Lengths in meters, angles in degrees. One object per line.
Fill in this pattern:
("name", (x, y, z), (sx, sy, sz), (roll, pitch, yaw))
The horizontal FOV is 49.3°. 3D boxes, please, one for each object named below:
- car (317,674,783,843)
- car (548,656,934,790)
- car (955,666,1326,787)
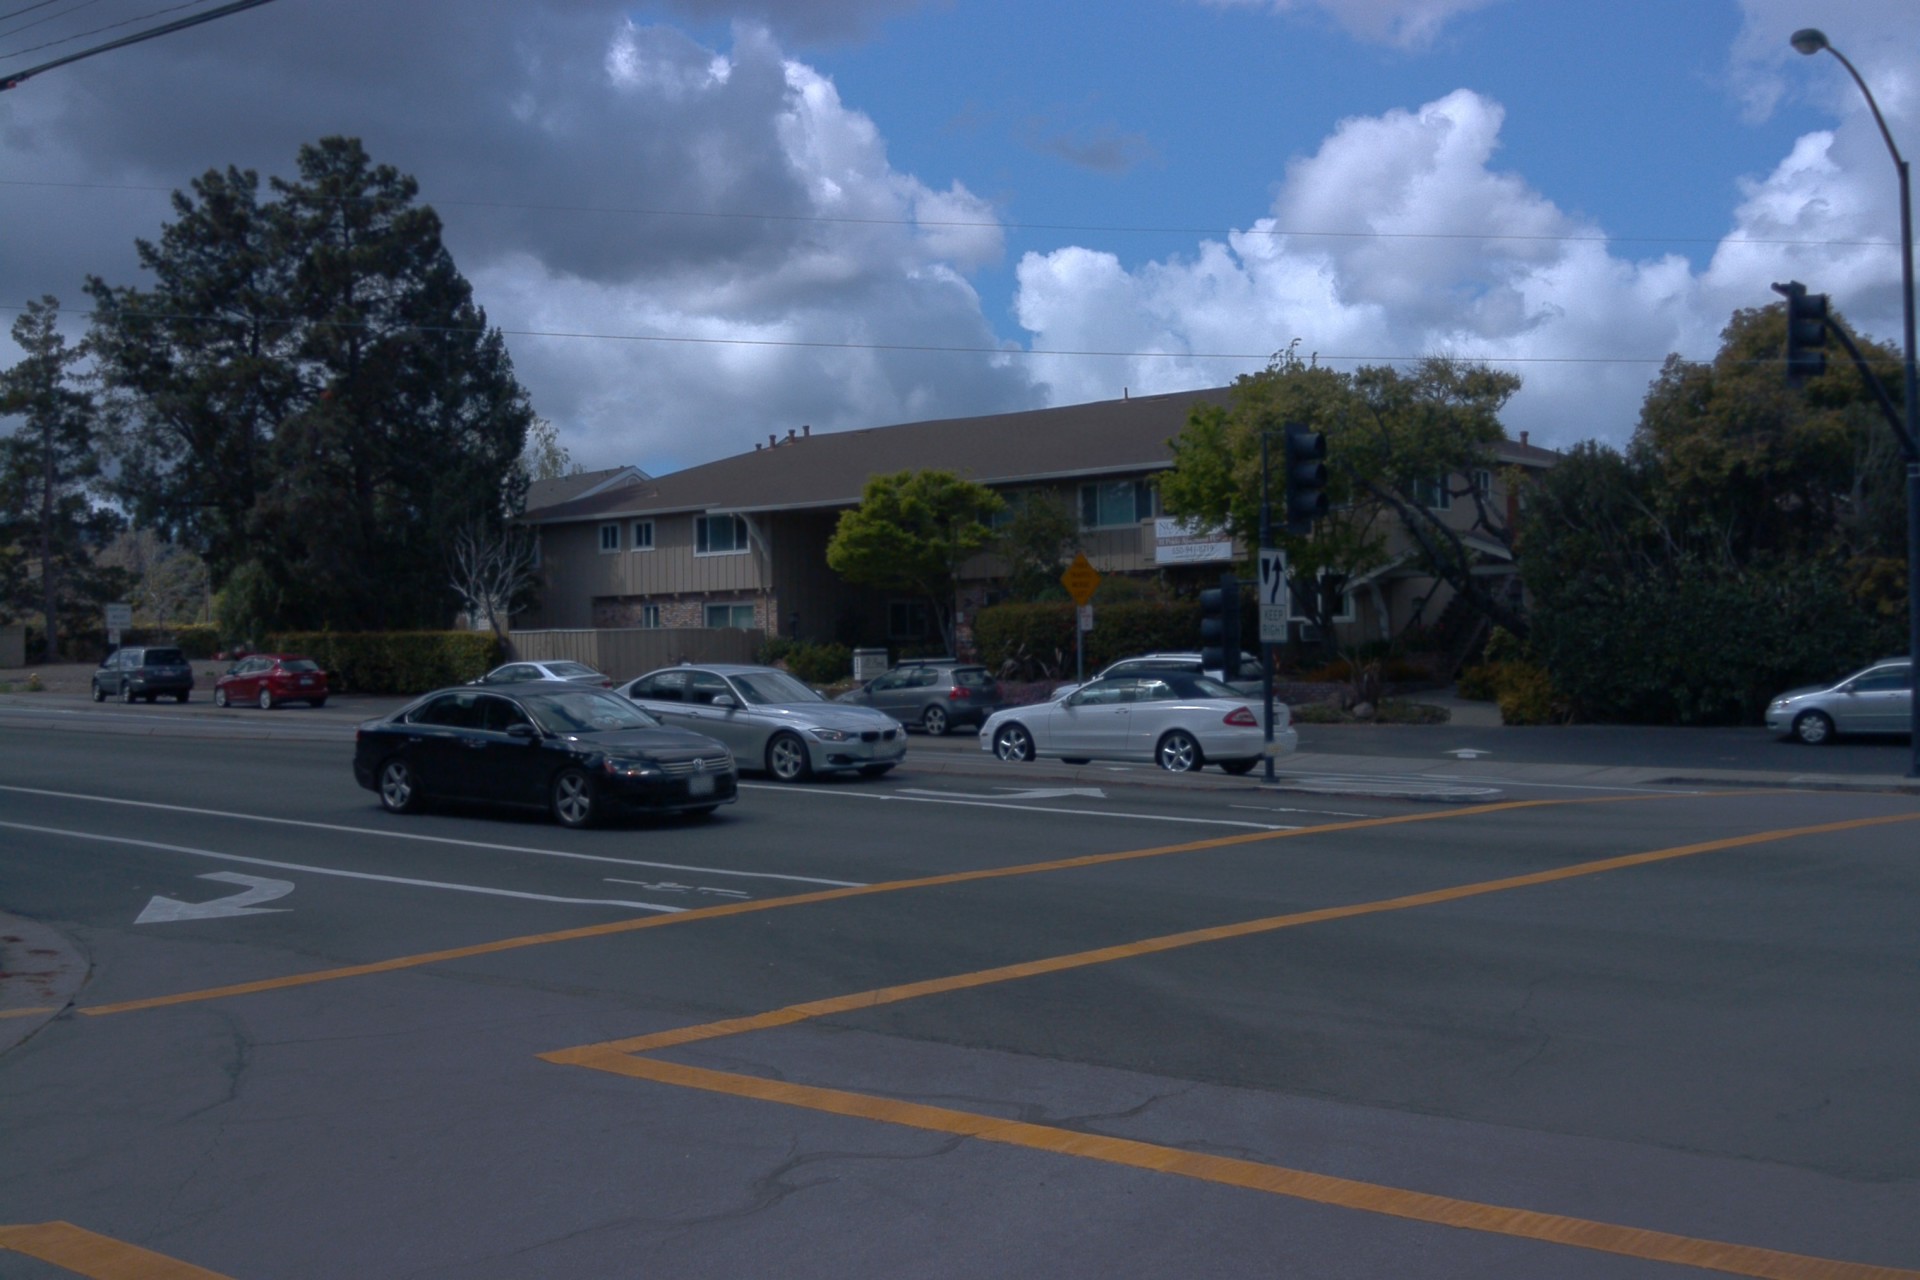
("car", (-4.489, 1.178, 22.467), (5.022, 1.540, 2.150), (0, 0, 38))
("car", (-2.905, 1.004, 27.206), (4.906, 1.560, 2.026), (0, 0, 37))
("car", (2.432, 1.124, 28.726), (4.647, 1.490, 2.113), (0, 0, 37))
